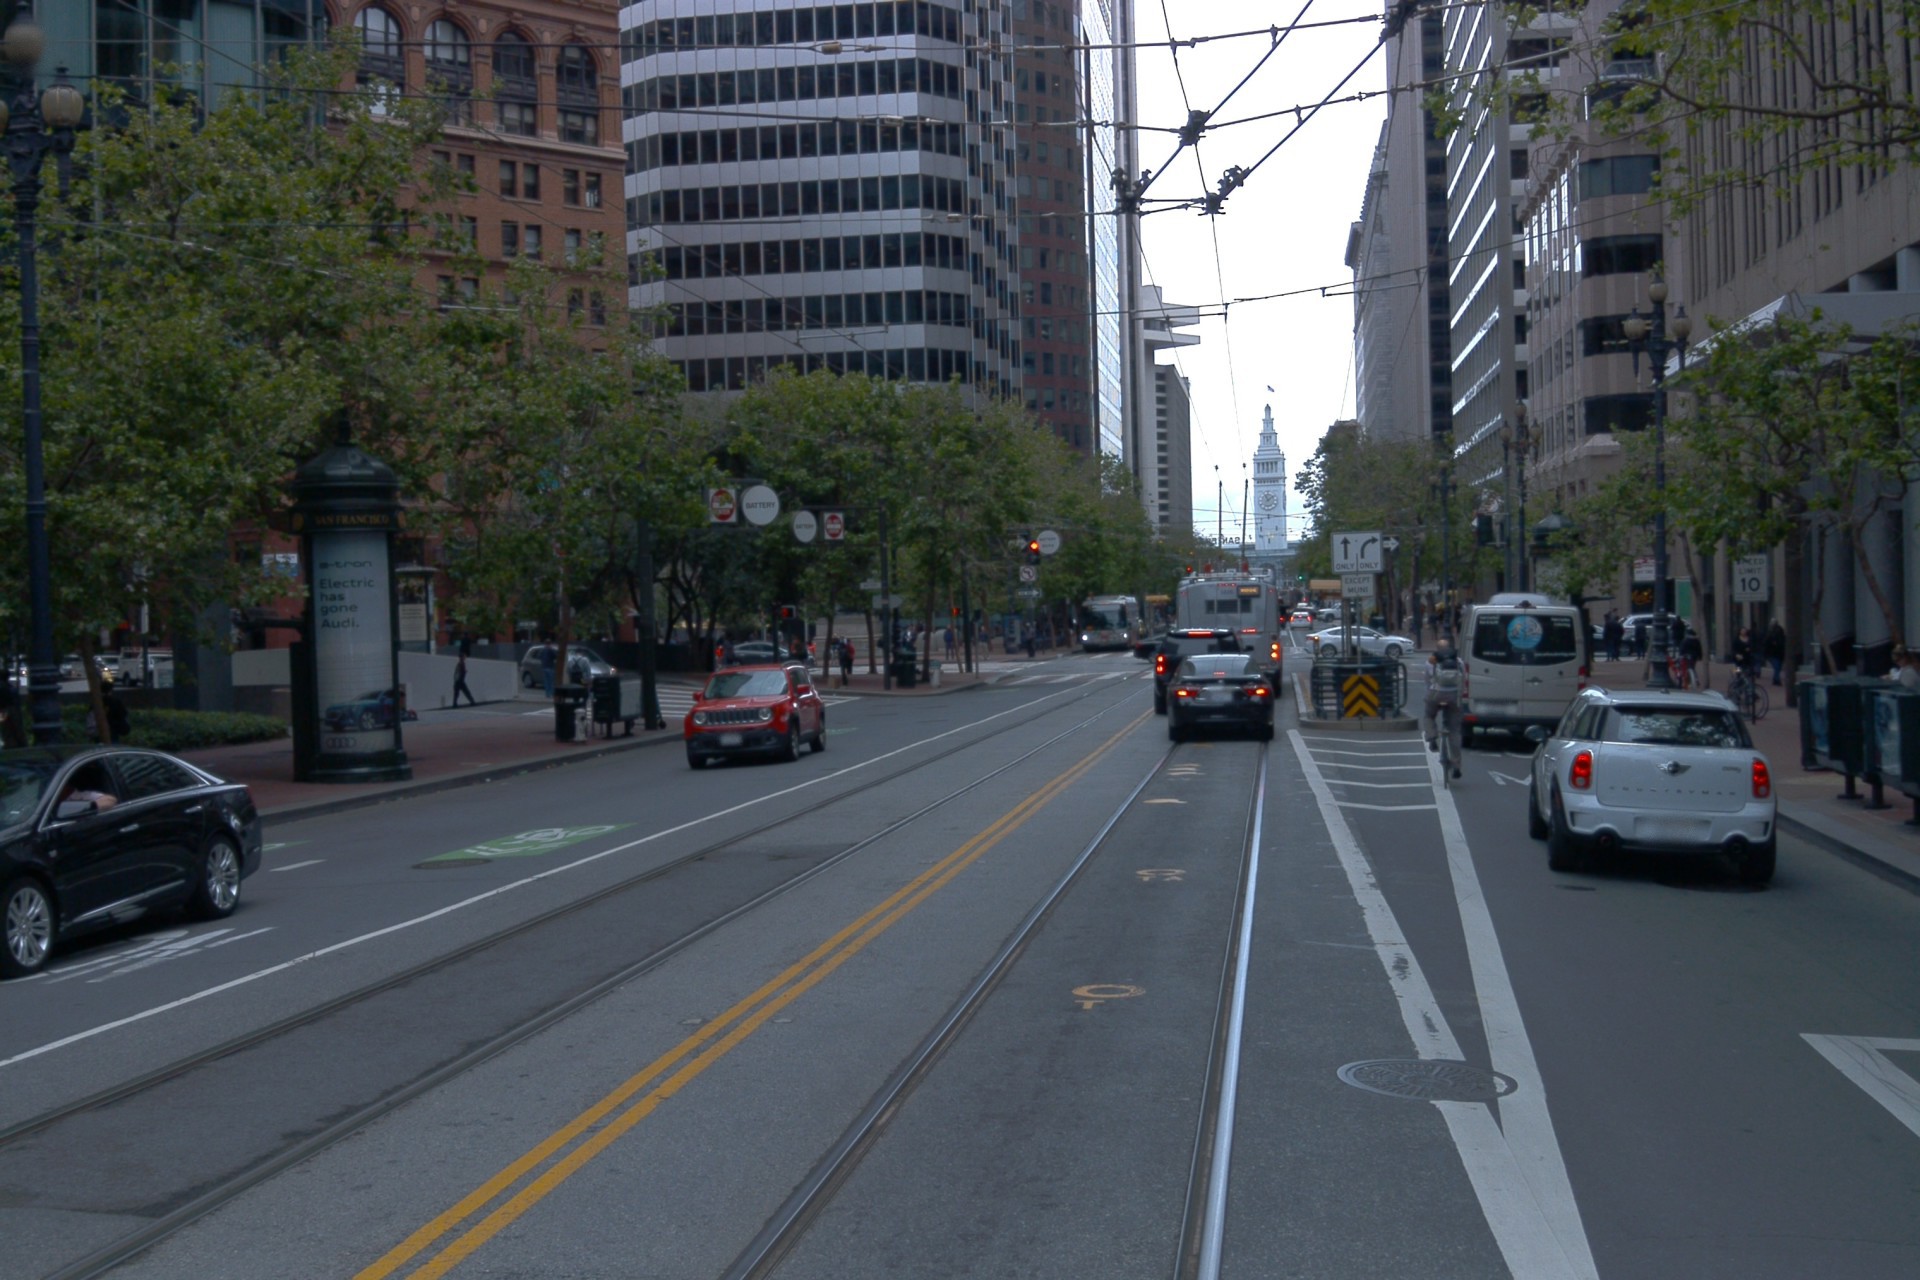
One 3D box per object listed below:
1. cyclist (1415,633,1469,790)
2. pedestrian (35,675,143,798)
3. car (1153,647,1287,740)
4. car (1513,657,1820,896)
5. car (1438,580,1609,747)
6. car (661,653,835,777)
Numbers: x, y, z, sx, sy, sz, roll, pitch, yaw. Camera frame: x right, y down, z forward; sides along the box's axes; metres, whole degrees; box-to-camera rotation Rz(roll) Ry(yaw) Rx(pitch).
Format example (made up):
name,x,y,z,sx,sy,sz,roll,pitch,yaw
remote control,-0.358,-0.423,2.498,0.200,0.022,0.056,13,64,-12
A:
name,x,y,z,sx,sy,sz,roll,pitch,yaw
cyclist,6.039,0.868,25.853,0.638,1.900,1.438,0,1,14
pedestrian,-12.985,1.428,30.821,1.056,1.770,1.056,0,1,11
car,4.540,0.902,36.523,2.189,1.460,4.685,0,1,6
car,6.065,1.083,18.192,2.076,1.784,3.875,0,1,12
car,9.418,0.341,34.968,2.537,2.590,5.346,0,1,13
car,-3.483,1.205,34.779,2.064,1.890,4.116,0,1,6
